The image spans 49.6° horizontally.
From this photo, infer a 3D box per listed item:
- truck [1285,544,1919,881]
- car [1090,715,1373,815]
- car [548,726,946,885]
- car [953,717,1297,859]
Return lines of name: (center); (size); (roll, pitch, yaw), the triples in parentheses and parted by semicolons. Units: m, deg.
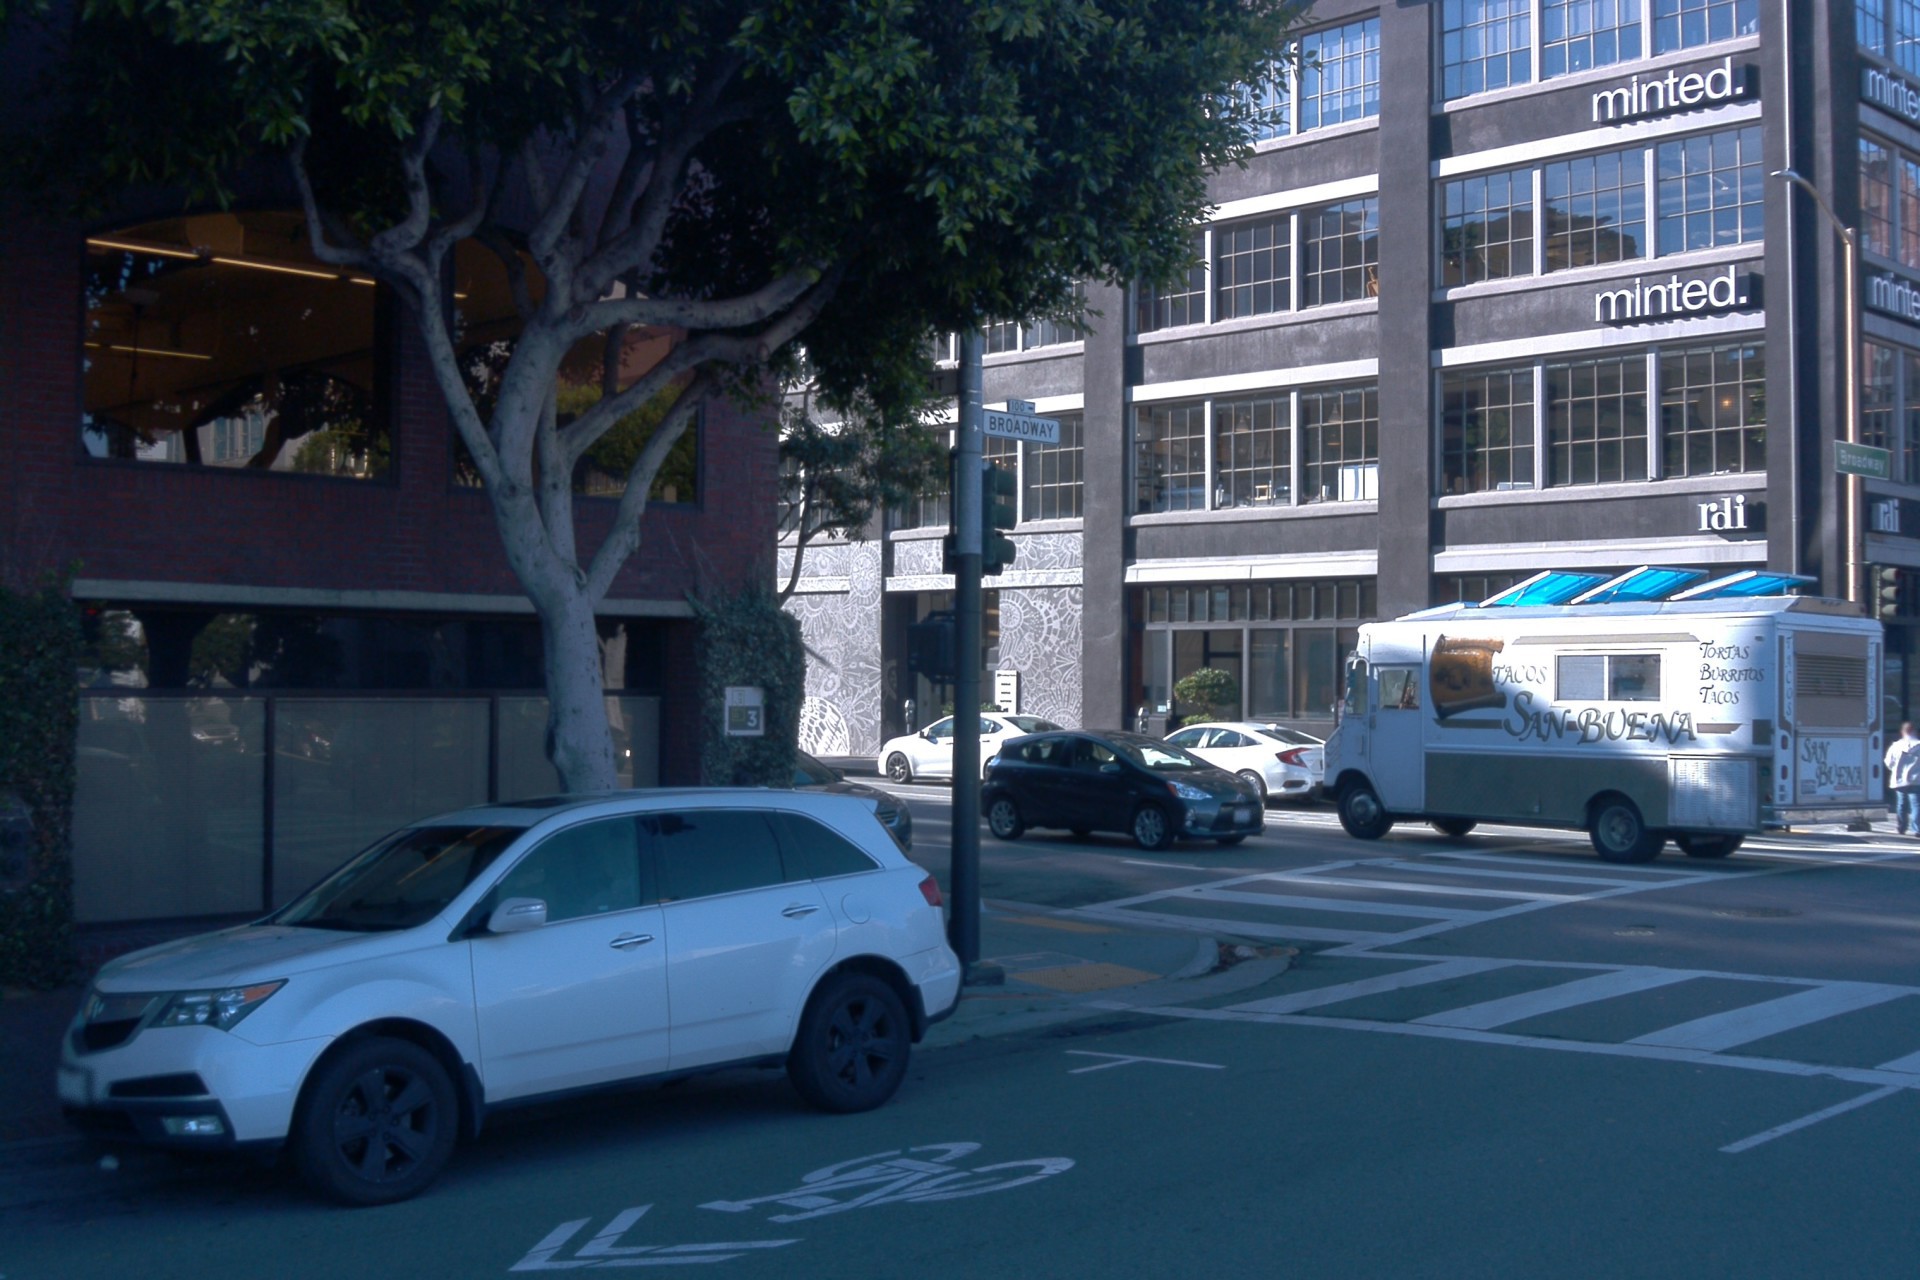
truck: (7.771, 0.801, 26.080); (2.964, 3.621, 7.193); (2, -1, -38)
car: (4.597, 2.084, 35.563); (2.159, 1.470, 4.409); (2, -1, -43)
car: (-2.645, 1.892, 24.922); (4.856, 1.550, 2.094); (0, -1, 44)
car: (2.068, 1.832, 26.799); (2.060, 1.550, 4.059); (2, -1, -44)
